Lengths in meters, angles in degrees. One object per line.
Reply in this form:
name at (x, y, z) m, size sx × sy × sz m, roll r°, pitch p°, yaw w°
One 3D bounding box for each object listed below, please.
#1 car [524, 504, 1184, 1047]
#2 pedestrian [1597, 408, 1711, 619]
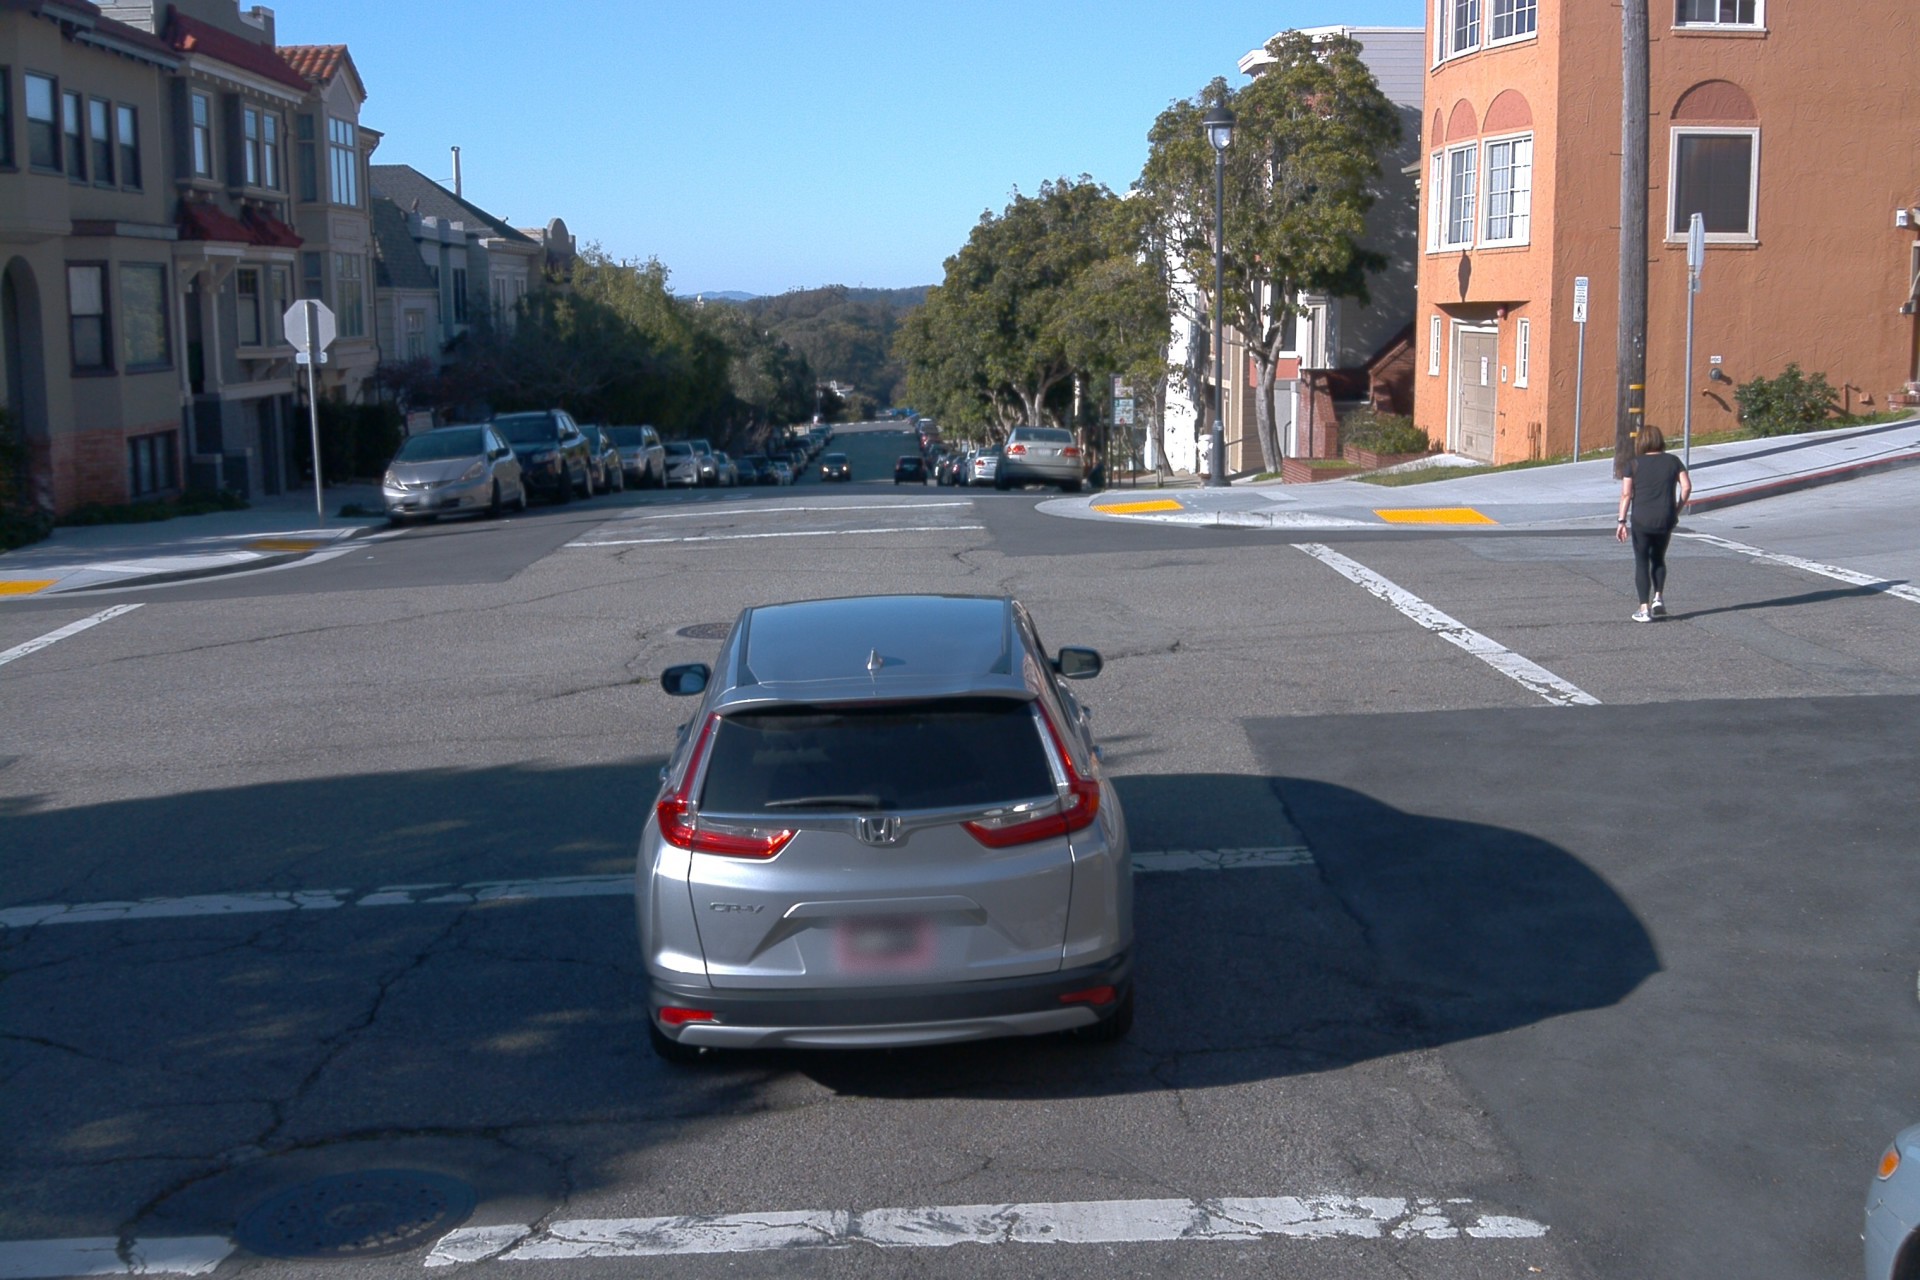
car at (-0.403, 0.462, 9.238) m, size 2.191 × 1.800 × 4.695 m, roll 0°, pitch 0°, yaw -1°
pedestrian at (5.591, -0.993, 16.742) m, size 0.730 × 1.620 × 1.129 m, roll 0°, pitch 0°, yaw 11°
